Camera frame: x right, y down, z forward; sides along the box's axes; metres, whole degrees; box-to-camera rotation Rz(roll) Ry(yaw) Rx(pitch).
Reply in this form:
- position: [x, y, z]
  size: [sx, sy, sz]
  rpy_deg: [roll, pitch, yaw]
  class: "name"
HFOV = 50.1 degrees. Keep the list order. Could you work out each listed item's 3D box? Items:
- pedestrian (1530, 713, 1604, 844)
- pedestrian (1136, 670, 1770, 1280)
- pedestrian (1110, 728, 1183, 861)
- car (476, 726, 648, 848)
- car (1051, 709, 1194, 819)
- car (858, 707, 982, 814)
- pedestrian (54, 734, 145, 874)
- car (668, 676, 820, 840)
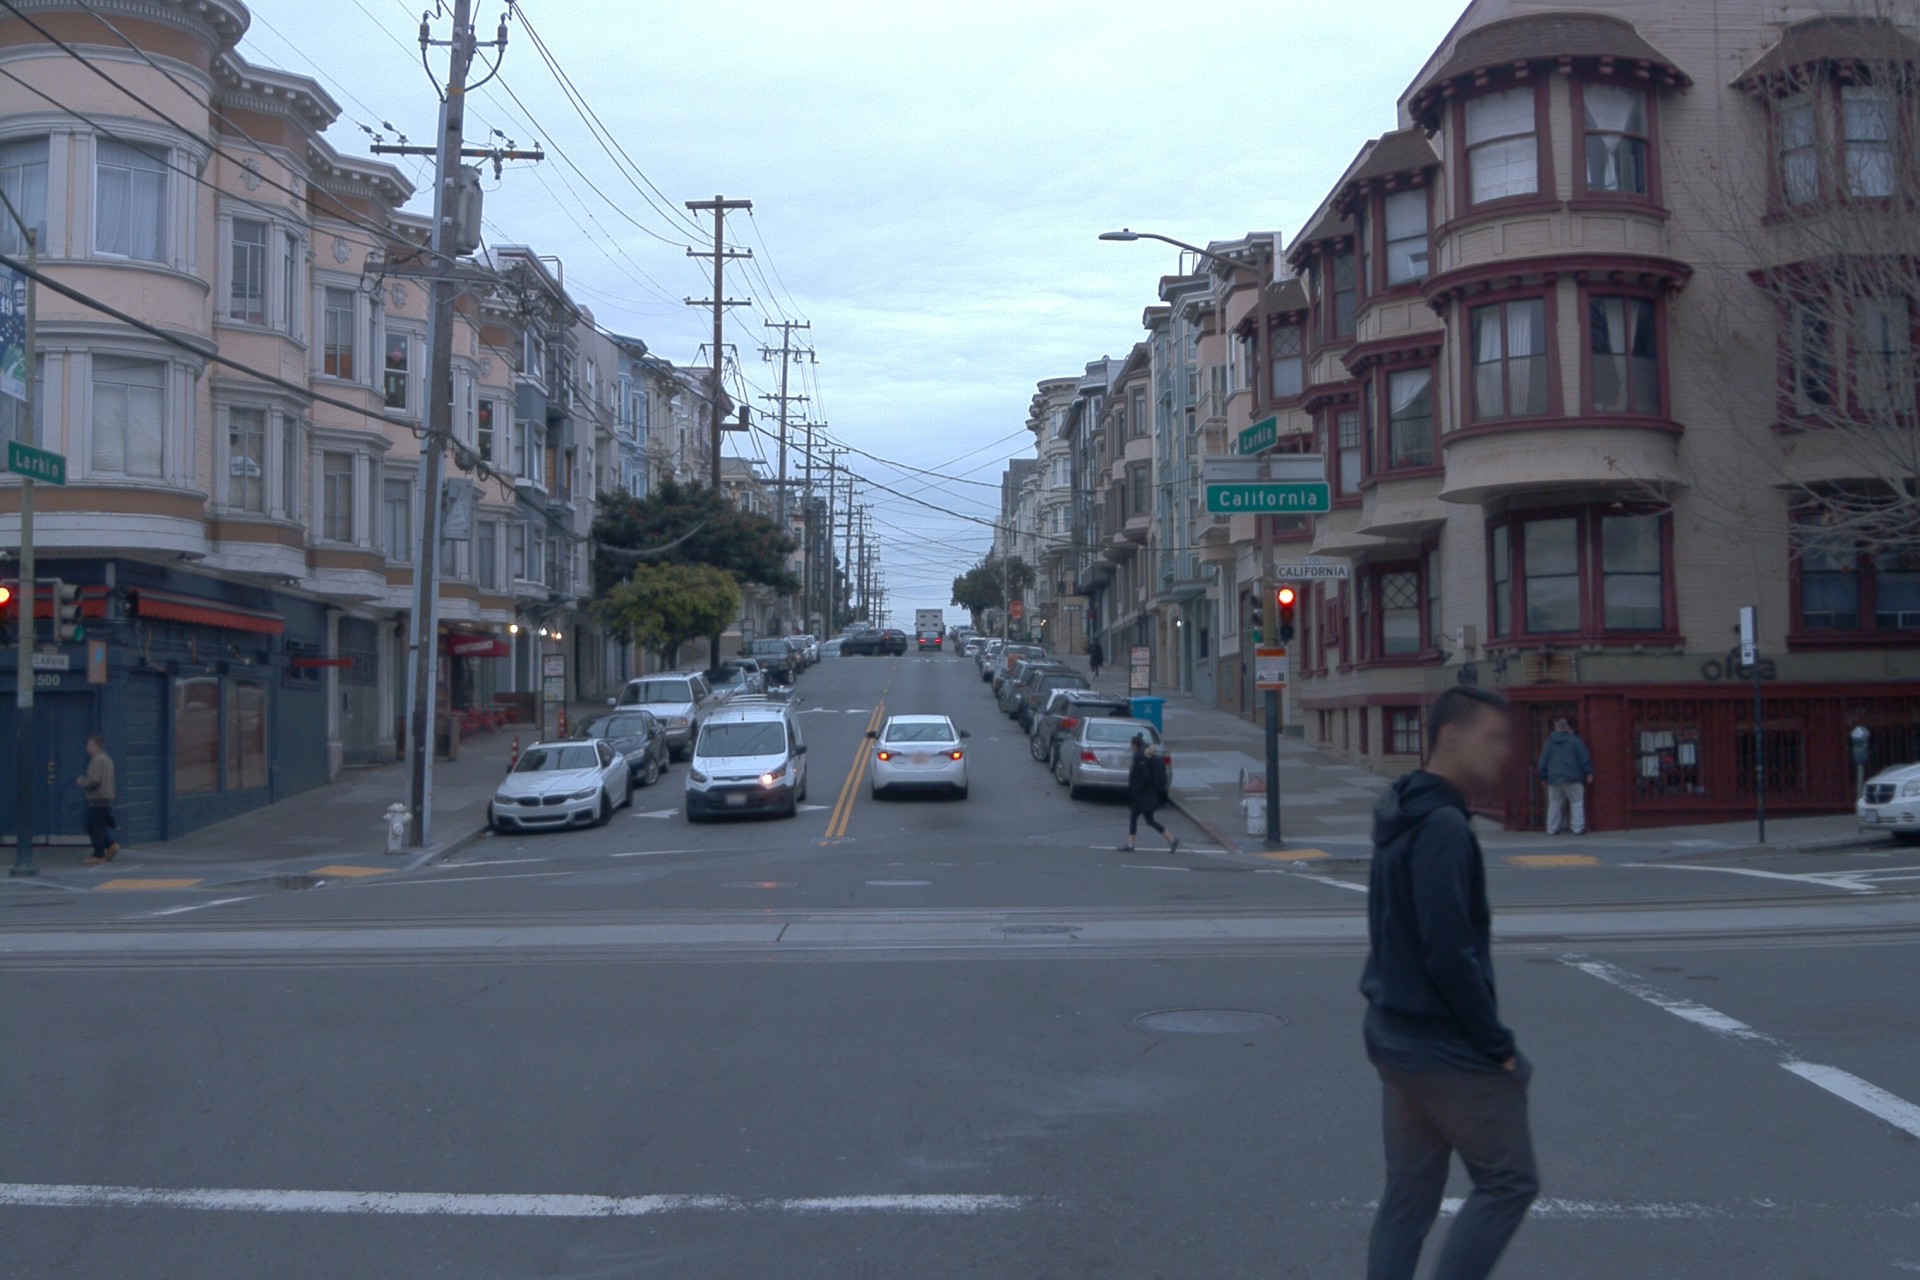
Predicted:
- position: [8.871, 2.006, 30.085]
  size: [0.916, 1.830, 0.906]
  rpy_deg: [0, 1, 9]
  class: "pedestrian"
- position: [1.266, 1.131, 5.507]
  size: [1.459, 2.066, 0.817]
  rpy_deg: [0, 1, -4]
  class: "pedestrian"
- position: [2.655, 2.193, 29.300]
  size: [0.944, 1.820, 0.722]
  rpy_deg: [0, 1, -2]
  class: "pedestrian"
- position: [-6.813, 2.479, 35.707]
  size: [2.150, 1.707, 4.680]
  rpy_deg: [0, 1, -1]
  class: "car"
- position: [2.936, 2.240, 38.182]
  size: [2.108, 1.700, 4.470]
  rpy_deg: [0, 1, -2]
  class: "car"
- position: [-0.784, 2.170, 38.052]
  size: [2.143, 1.600, 4.702]
  rpy_deg: [0, 1, -2]
  class: "car"
- position: [-12.129, 2.296, 29.002]
  size: [0.950, 1.900, 0.786]
  rpy_deg: [0, 1, 0]
  class: "pedestrian"
- position: [-3.649, 1.944, 35.580]
  size: [2.196, 2.490, 4.690]
  rpy_deg: [0, 1, -1]
  class: "car"
